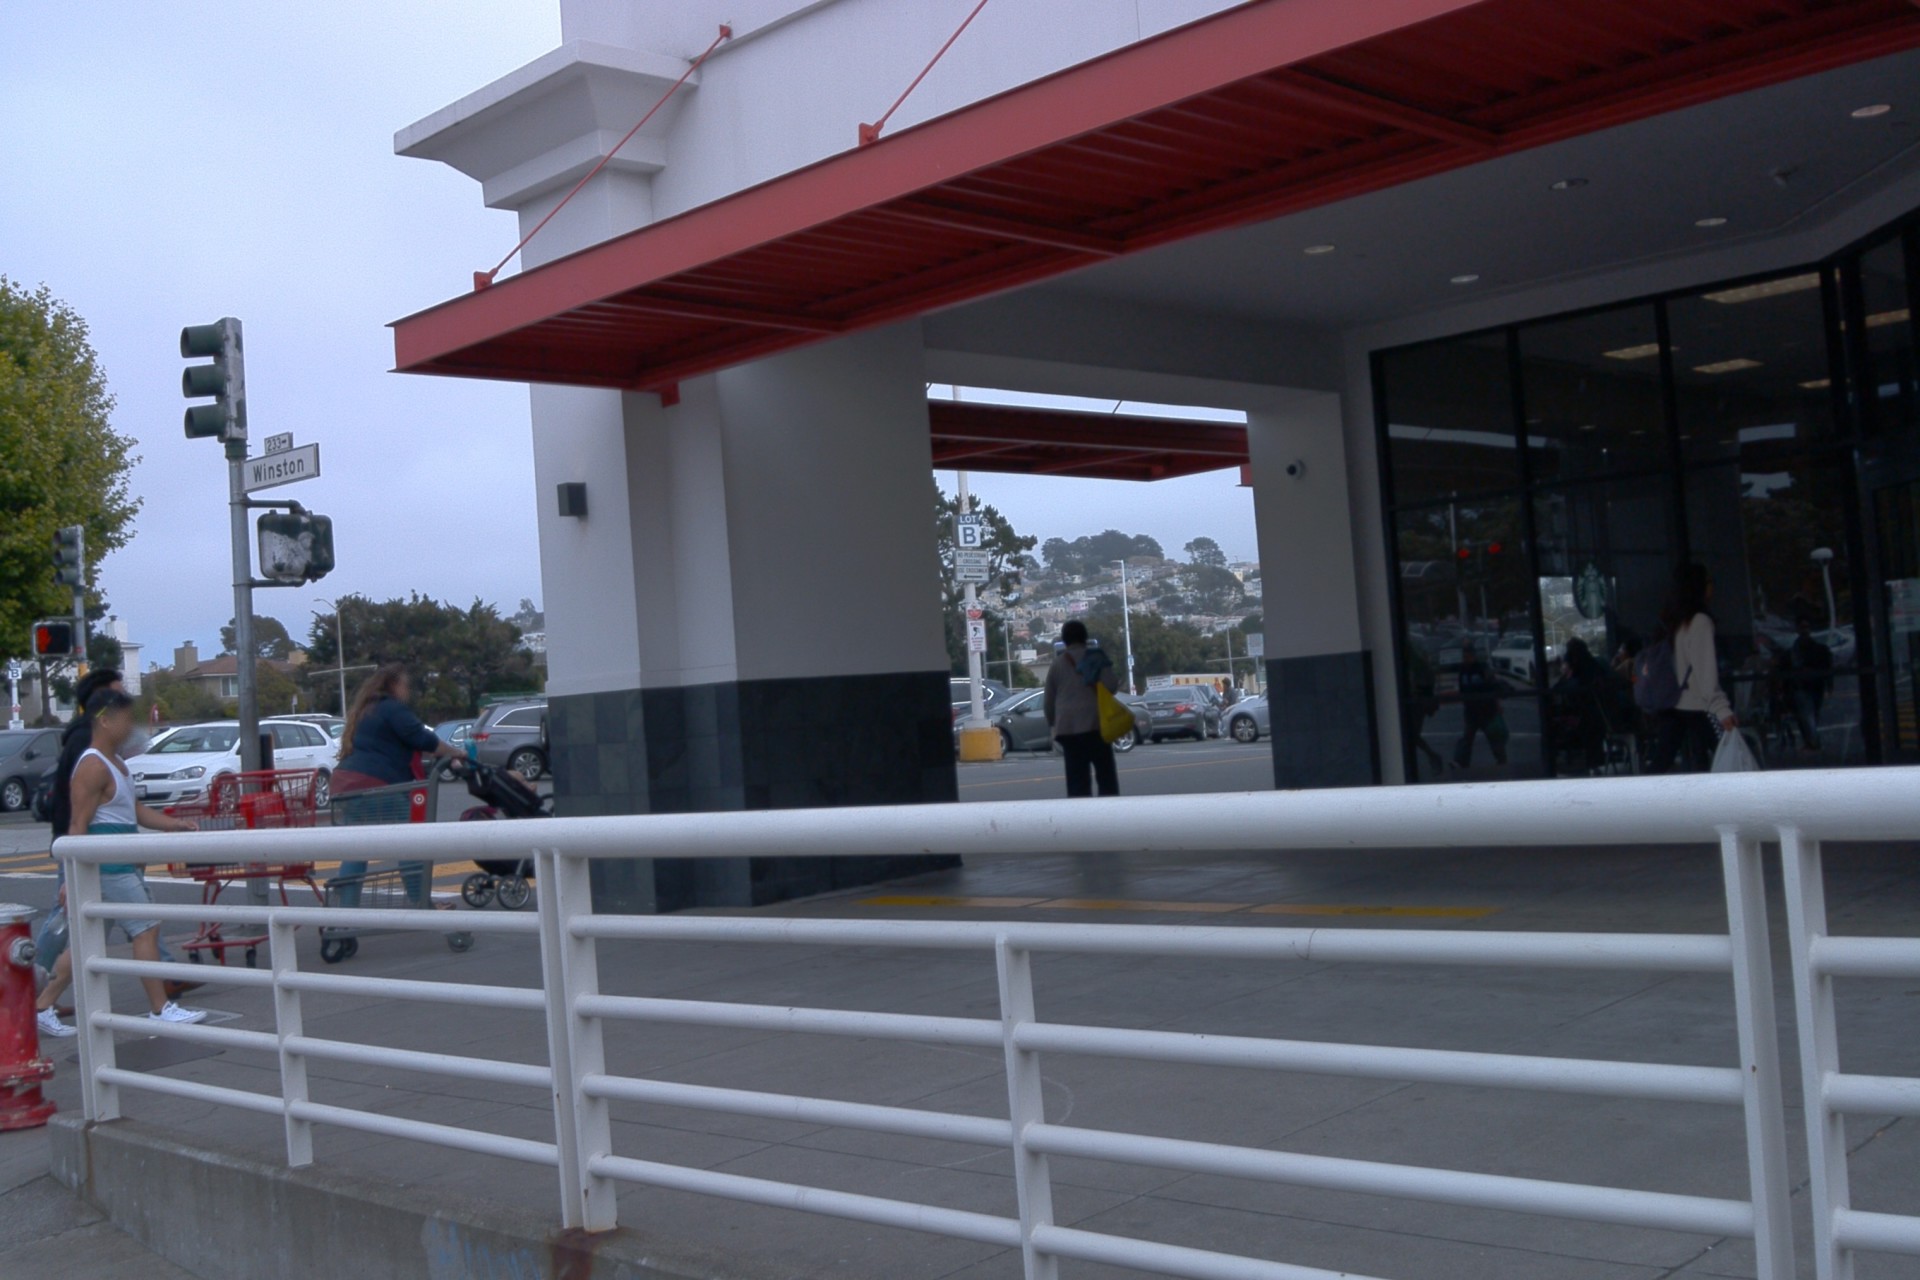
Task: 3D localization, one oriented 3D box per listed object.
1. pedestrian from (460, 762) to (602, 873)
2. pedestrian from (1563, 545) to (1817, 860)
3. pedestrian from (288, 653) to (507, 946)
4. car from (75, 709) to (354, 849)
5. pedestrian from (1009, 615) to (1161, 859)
[{"bbox_3d":[-2.795,1.146,13.394,0.767,0.640,0.483,0,0,-39],"label":"pedestrian"},{"bbox_3d":[3.825,0.306,10.824,0.952,1.580,0.817,0,0,-16],"label":"pedestrian"},{"bbox_3d":[-3.491,0.950,12.775,1.124,1.710,0.709,0,0,-37],"label":"pedestrian"},{"bbox_3d":[-11.162,2.028,31.137,1.974,1.760,4.391,0,1,12],"label":"car"},{"bbox_3d":[0.848,0.624,13.833,0.786,1.580,0.810,0,0,24],"label":"pedestrian"}]
